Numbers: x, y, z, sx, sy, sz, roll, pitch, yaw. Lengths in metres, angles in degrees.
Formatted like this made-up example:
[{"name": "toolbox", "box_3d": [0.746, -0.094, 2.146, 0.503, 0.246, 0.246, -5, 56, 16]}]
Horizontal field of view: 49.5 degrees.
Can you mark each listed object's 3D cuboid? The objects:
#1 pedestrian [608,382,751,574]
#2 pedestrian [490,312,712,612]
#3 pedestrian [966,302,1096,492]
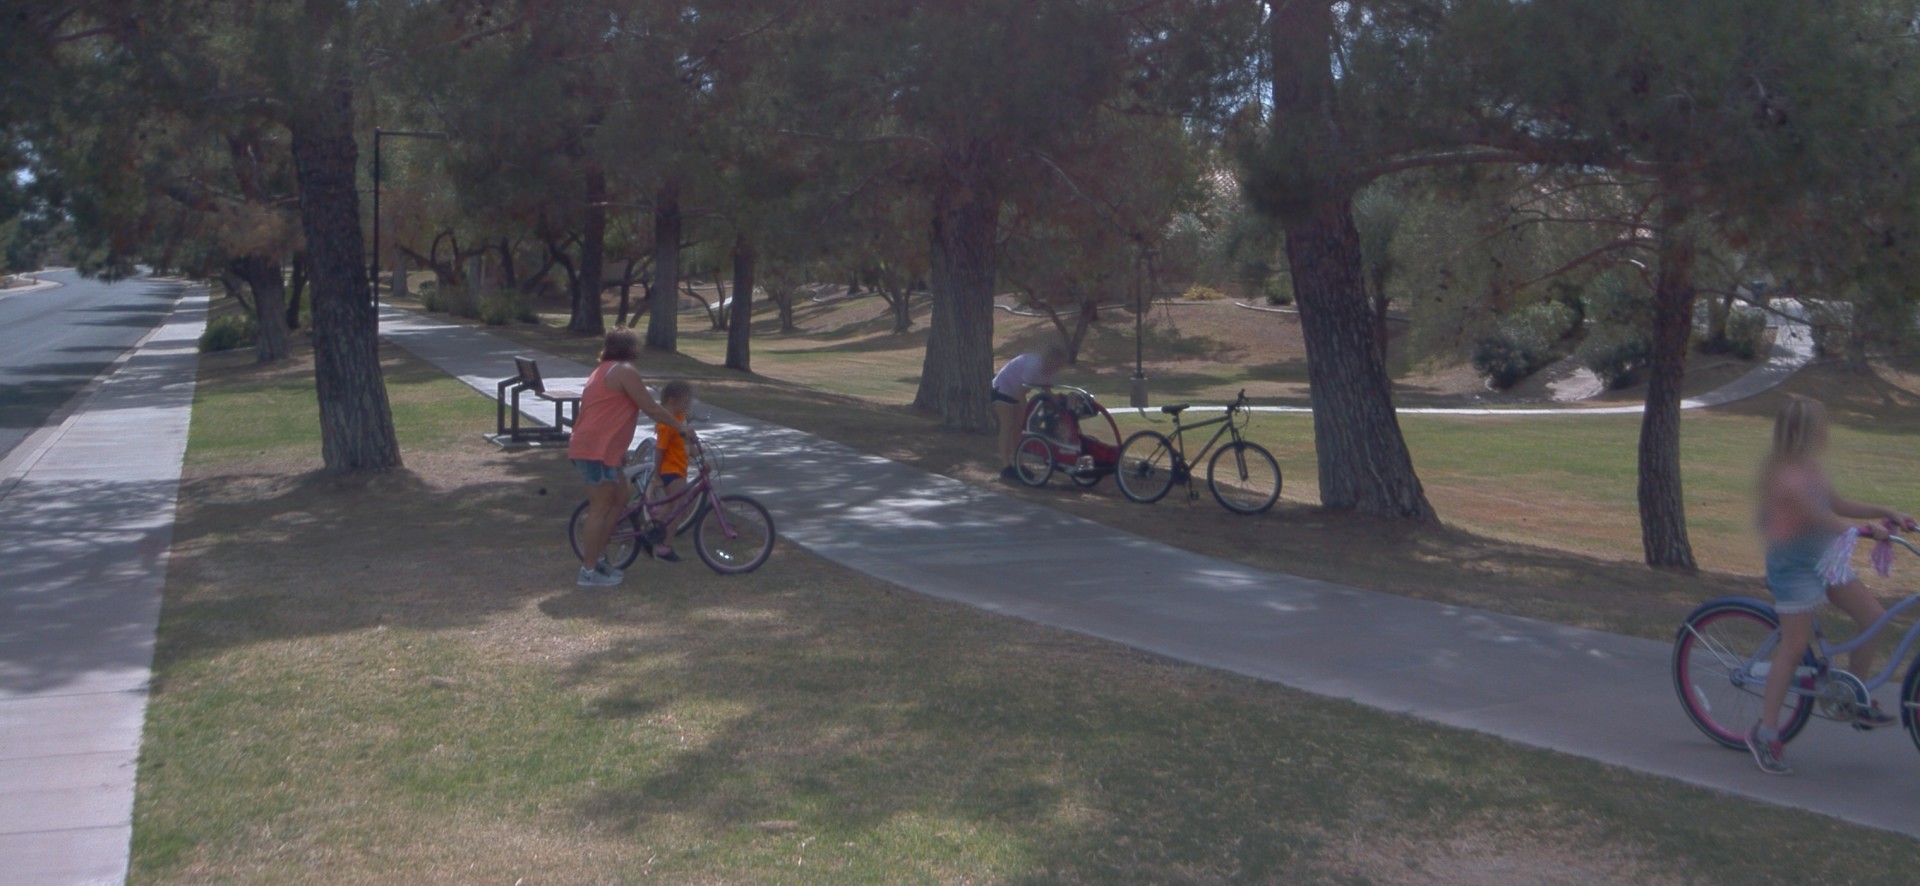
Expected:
[{"name": "pedestrian", "box_3d": [-1.881, 0.214, 13.950, 0.596, 1.181, 0.734, 1, 1, 42]}, {"name": "pedestrian", "box_3d": [-2.194, 0.073, 12.799, 1.036, 1.722, 0.896, 0, 1, 18]}, {"name": "pedestrian", "box_3d": [0.675, -0.464, 19.725, 0.834, 1.712, 0.898, 0, 1, -44]}]
